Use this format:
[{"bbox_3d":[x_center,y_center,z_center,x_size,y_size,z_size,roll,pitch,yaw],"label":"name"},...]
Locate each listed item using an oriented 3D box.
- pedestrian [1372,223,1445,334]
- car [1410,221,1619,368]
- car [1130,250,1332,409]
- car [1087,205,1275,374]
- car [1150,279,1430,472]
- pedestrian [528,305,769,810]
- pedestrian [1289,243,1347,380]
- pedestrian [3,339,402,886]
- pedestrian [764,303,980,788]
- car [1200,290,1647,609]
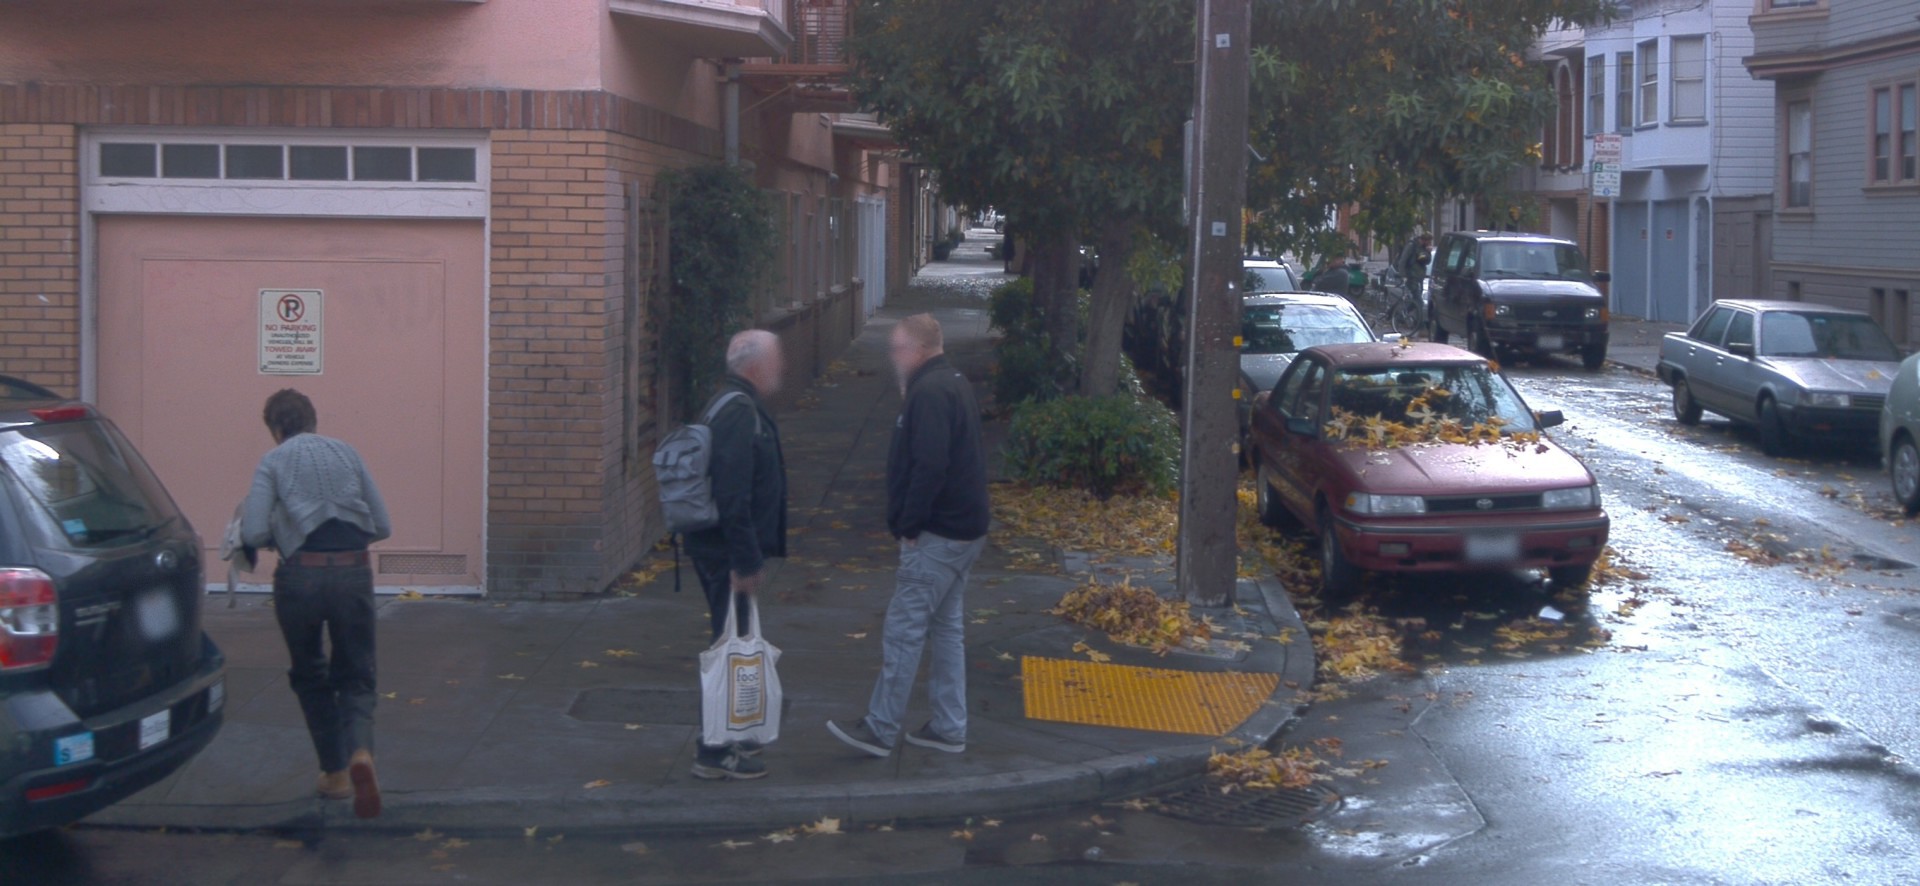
[{"bbox_3d":[7.761,-2.854,36.006,0.884,1.879,0.867,0,1,-35],"label":"pedestrian"},{"bbox_3d":[8.156,-2.260,30.986,2.060,2.024,4.180,1,4,1],"label":"car"},{"bbox_3d":[3.172,-1.453,25.086,2.026,1.724,4.091,1,5,2],"label":"car"},{"bbox_3d":[3.075,-2.291,30.182,2.178,2.192,5.776,0,5,1],"label":"car"},{"bbox_3d":[2.971,-0.747,19.737,2.038,1.514,4.651,1,5,1],"label":"car"},{"bbox_3d":[-1.191,0.393,8.139,0.837,1.829,0.913,0,1,-3],"label":"pedestrian"},{"bbox_3d":[4.727,-1.747,27.479,0.656,1.790,0.630,0,1,0],"label":"pedestrian"},{"bbox_3d":[-2.793,0.563,7.644,1.064,1.819,1.114,-1,2,-39],"label":"pedestrian"},{"bbox_3d":[-0.383,0.367,8.600,0.786,1.859,0.887,0,1,-9],"label":"pedestrian"},{"bbox_3d":[2.831,-0.121,13.733,1.865,1.664,4.357,0,5,-2],"label":"car"}]
